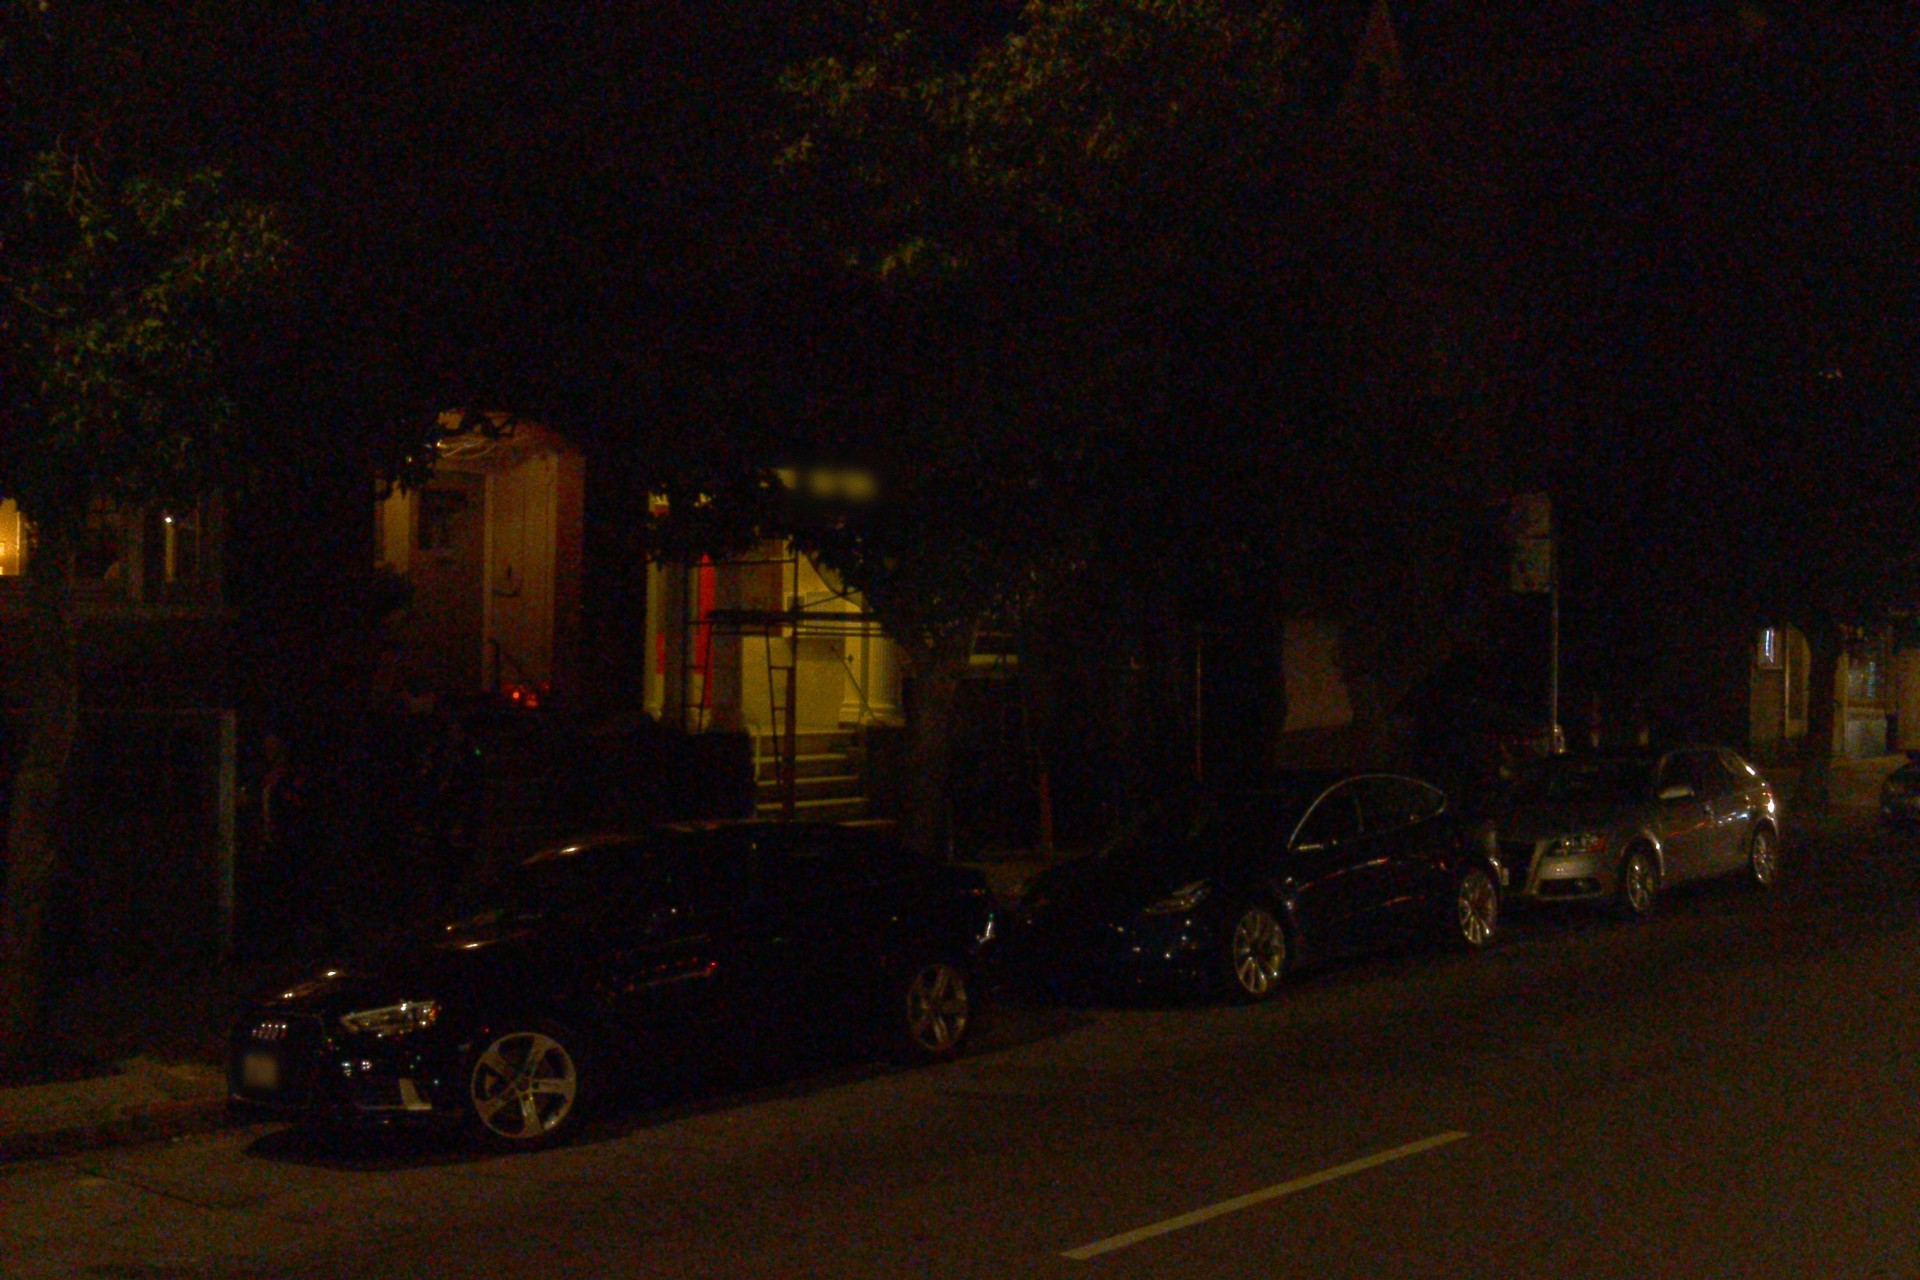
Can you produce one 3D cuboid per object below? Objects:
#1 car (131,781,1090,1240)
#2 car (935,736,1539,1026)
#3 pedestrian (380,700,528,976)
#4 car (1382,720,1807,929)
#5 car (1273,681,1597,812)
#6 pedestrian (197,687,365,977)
[{"bbox_3d":[-1.569,1.661,10.702,1.996,1.460,4.690,2,1,42],"label":"car"},{"bbox_3d":[2.118,1.536,14.513,2.008,1.420,4.636,2,1,41],"label":"car"},{"bbox_3d":[-3.491,1.337,14.178,0.710,1.800,0.666,1,1,34],"label":"pedestrian"},{"bbox_3d":[5.783,1.536,18.375,1.948,1.390,4.407,2,1,42],"label":"car"},{"bbox_3d":[6.379,1.381,27.796,3.789,1.470,1.942,2,1,43],"label":"car"},{"bbox_3d":[-4.689,1.289,14.179,0.828,1.880,0.774,0,1,-45],"label":"pedestrian"}]
